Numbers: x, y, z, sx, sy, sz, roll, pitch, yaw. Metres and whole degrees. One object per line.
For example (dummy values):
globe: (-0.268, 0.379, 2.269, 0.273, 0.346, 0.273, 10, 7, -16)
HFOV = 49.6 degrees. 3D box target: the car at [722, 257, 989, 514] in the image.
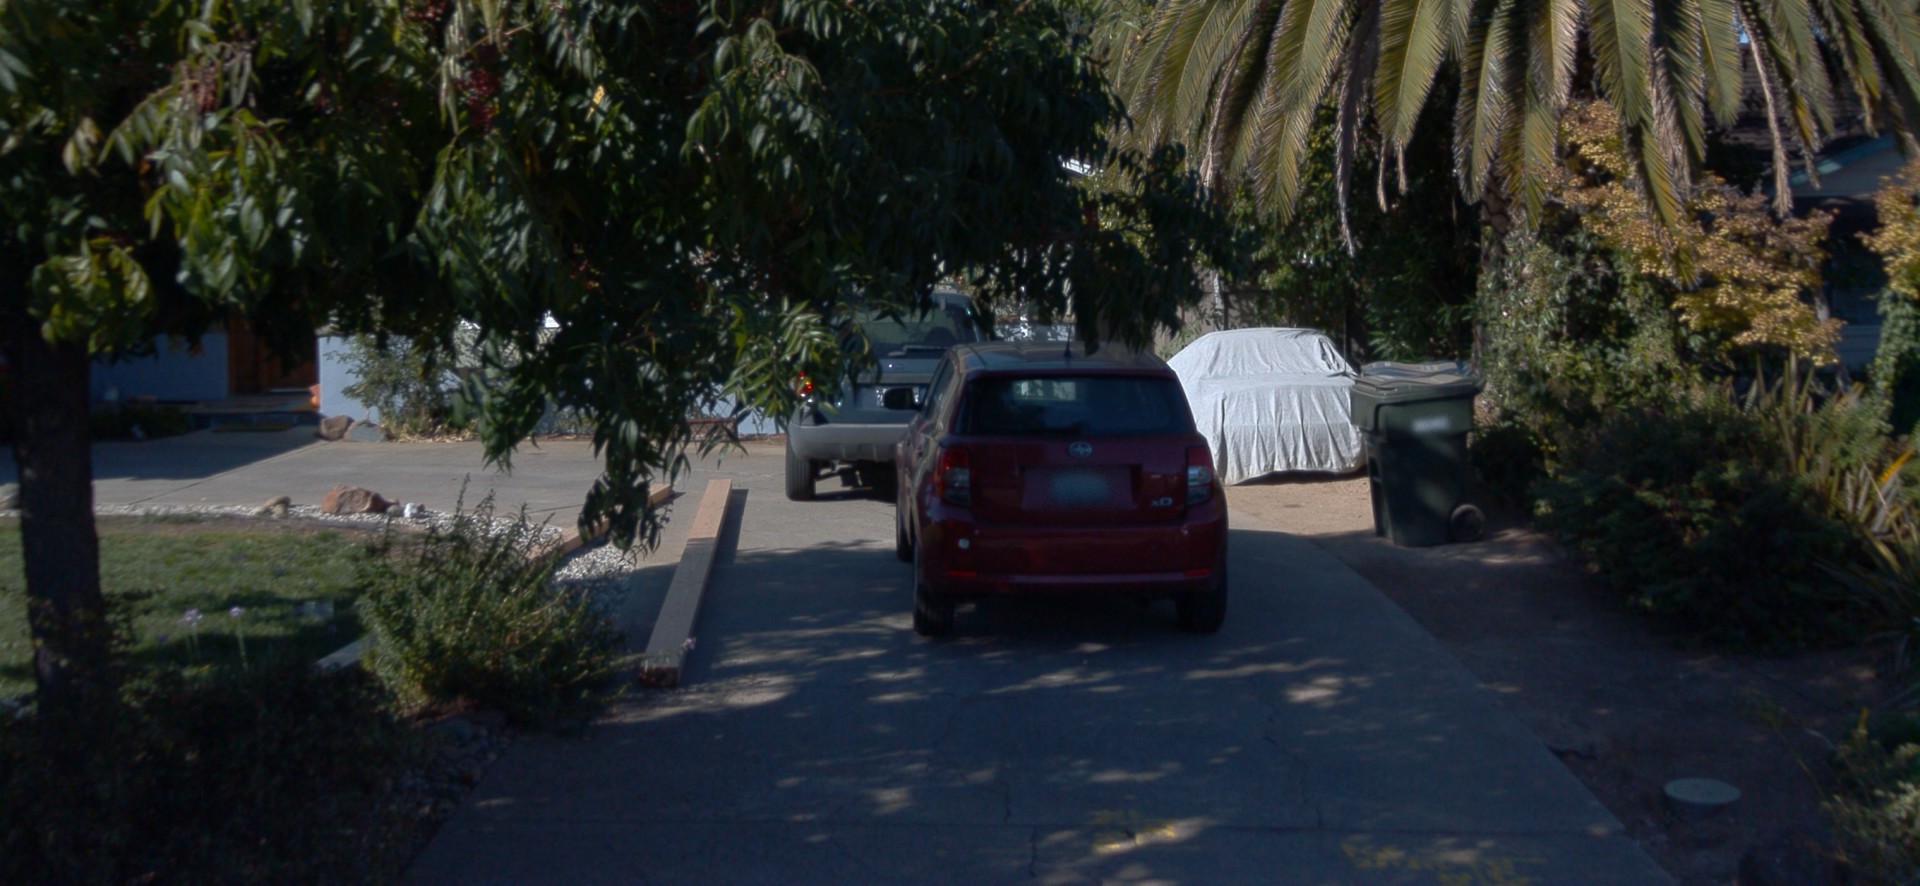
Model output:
car: (-0.875, -0.627, 17.667, 1.982, 1.885, 4.390, 0, 4, -3)

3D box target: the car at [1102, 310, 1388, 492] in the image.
car: (2.472, -0.473, 19.042, 1.983, 1.356, 4.128, 0, 5, -1)

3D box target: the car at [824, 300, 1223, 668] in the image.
car: (0.240, 0.064, 12.263, 1.988, 1.715, 3.918, 0, 4, -3)
